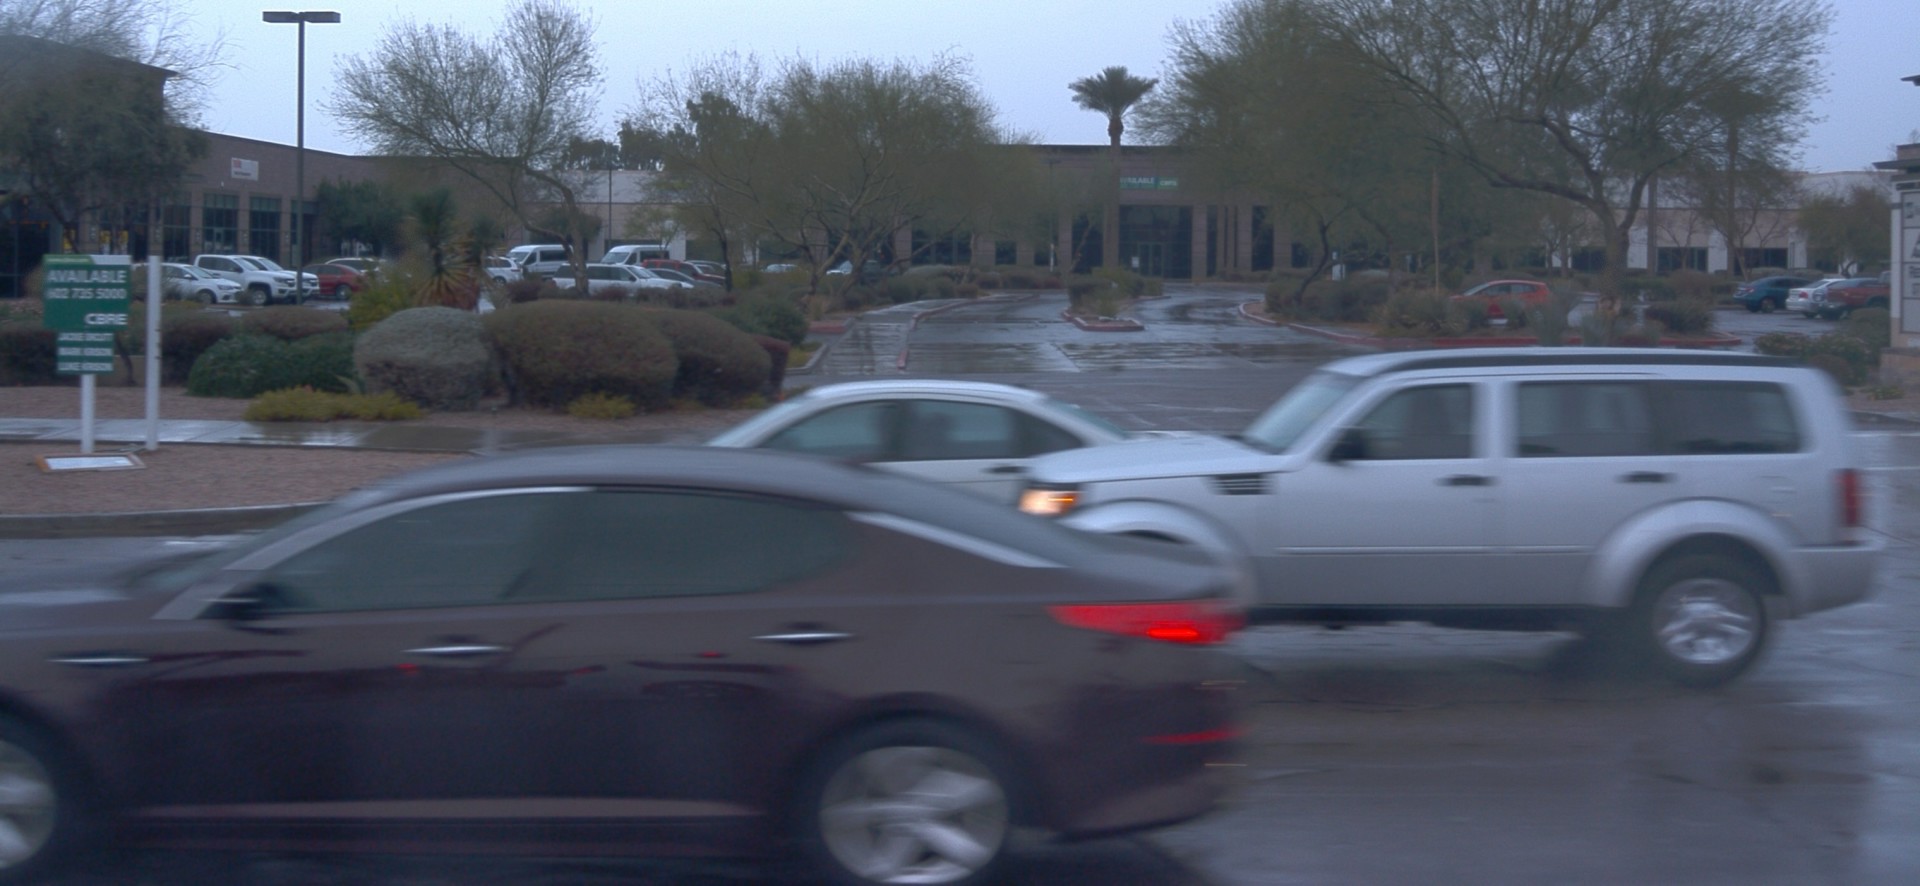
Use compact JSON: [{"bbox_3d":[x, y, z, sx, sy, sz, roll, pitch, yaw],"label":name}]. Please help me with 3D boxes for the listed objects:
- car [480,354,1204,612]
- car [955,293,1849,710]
[{"bbox_3d":[-0.731,0.209,14.066,4.503,1.467,2.043,0,4,-1],"label":"car"},{"bbox_3d":[2.230,0.223,11.557,4.498,2.017,2.060,0,3,-1],"label":"car"}]
